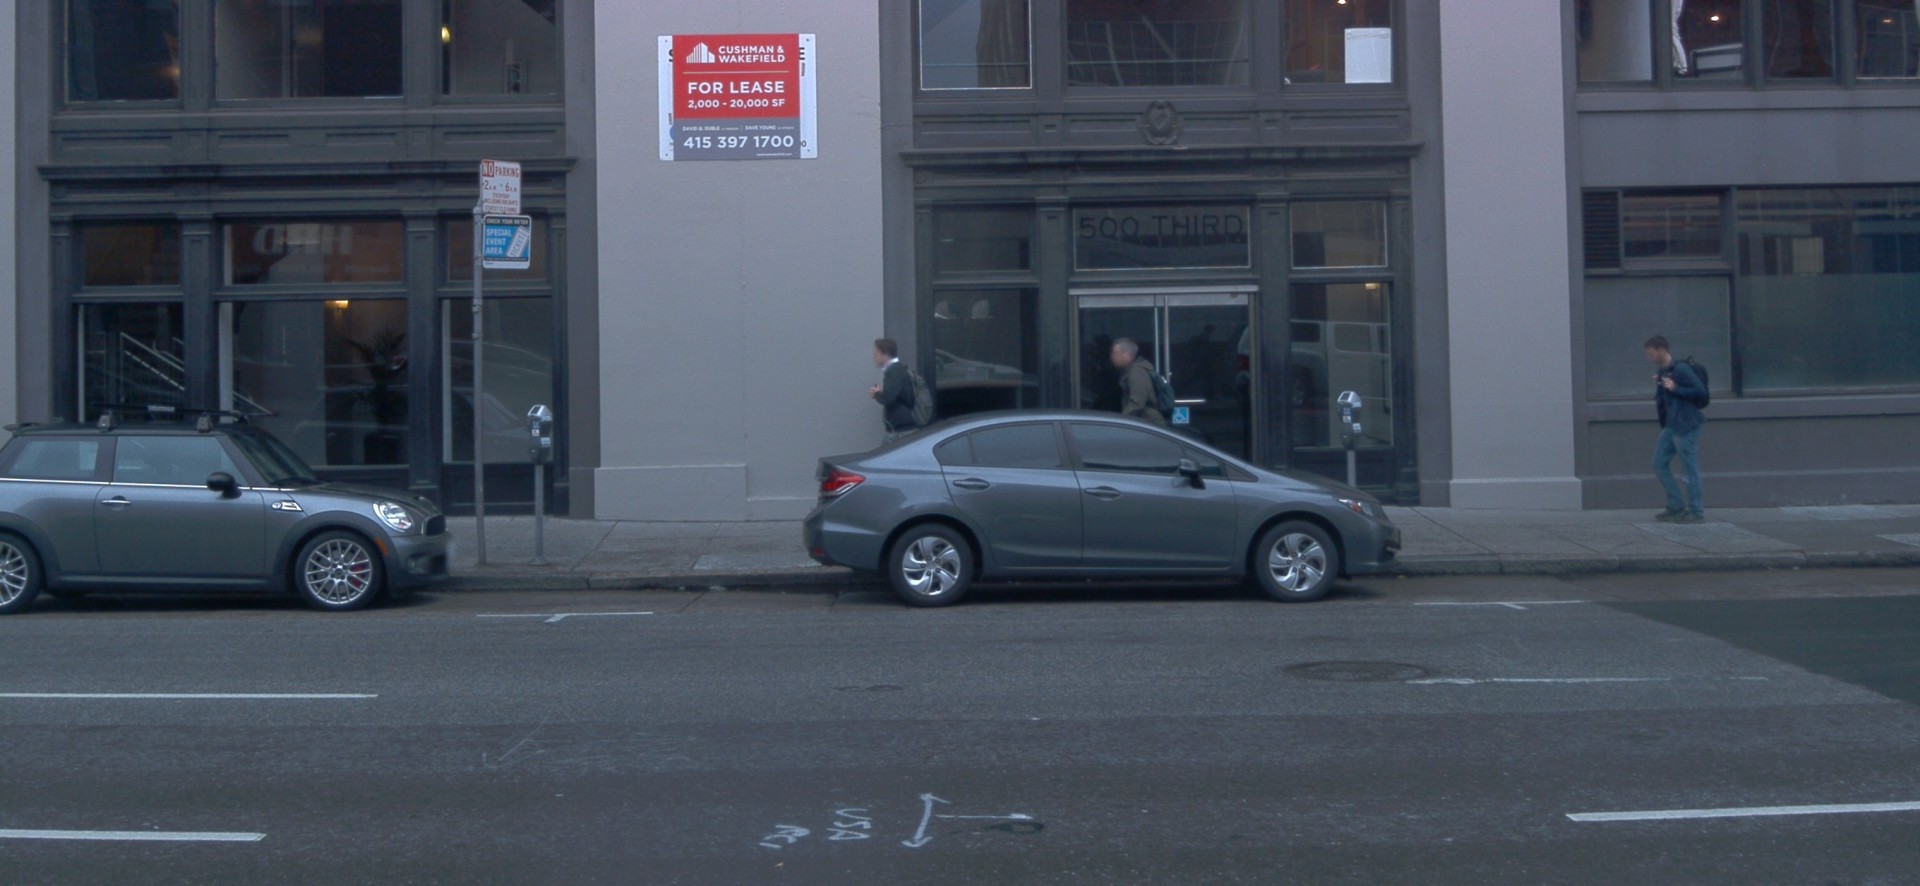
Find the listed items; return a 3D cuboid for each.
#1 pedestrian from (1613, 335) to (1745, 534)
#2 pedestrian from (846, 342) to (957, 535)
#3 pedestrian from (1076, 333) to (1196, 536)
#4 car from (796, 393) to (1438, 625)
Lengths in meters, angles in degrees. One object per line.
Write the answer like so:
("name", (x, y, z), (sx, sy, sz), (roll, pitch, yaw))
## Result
("pedestrian", (6.692, -0.102, 19.344), (0.947, 1.770, 0.839), (0, 1, 1))
("pedestrian", (-0.551, -0.062, 19.580), (1.027, 1.740, 0.850), (0, 1, -2))
("pedestrian", (1.623, -0.102, 19.271), (1.010, 1.800, 0.864), (0, 1, -2))
("car", (1.098, 0.443, 15.868), (4.616, 1.477, 2.025), (0, 4, -3))
